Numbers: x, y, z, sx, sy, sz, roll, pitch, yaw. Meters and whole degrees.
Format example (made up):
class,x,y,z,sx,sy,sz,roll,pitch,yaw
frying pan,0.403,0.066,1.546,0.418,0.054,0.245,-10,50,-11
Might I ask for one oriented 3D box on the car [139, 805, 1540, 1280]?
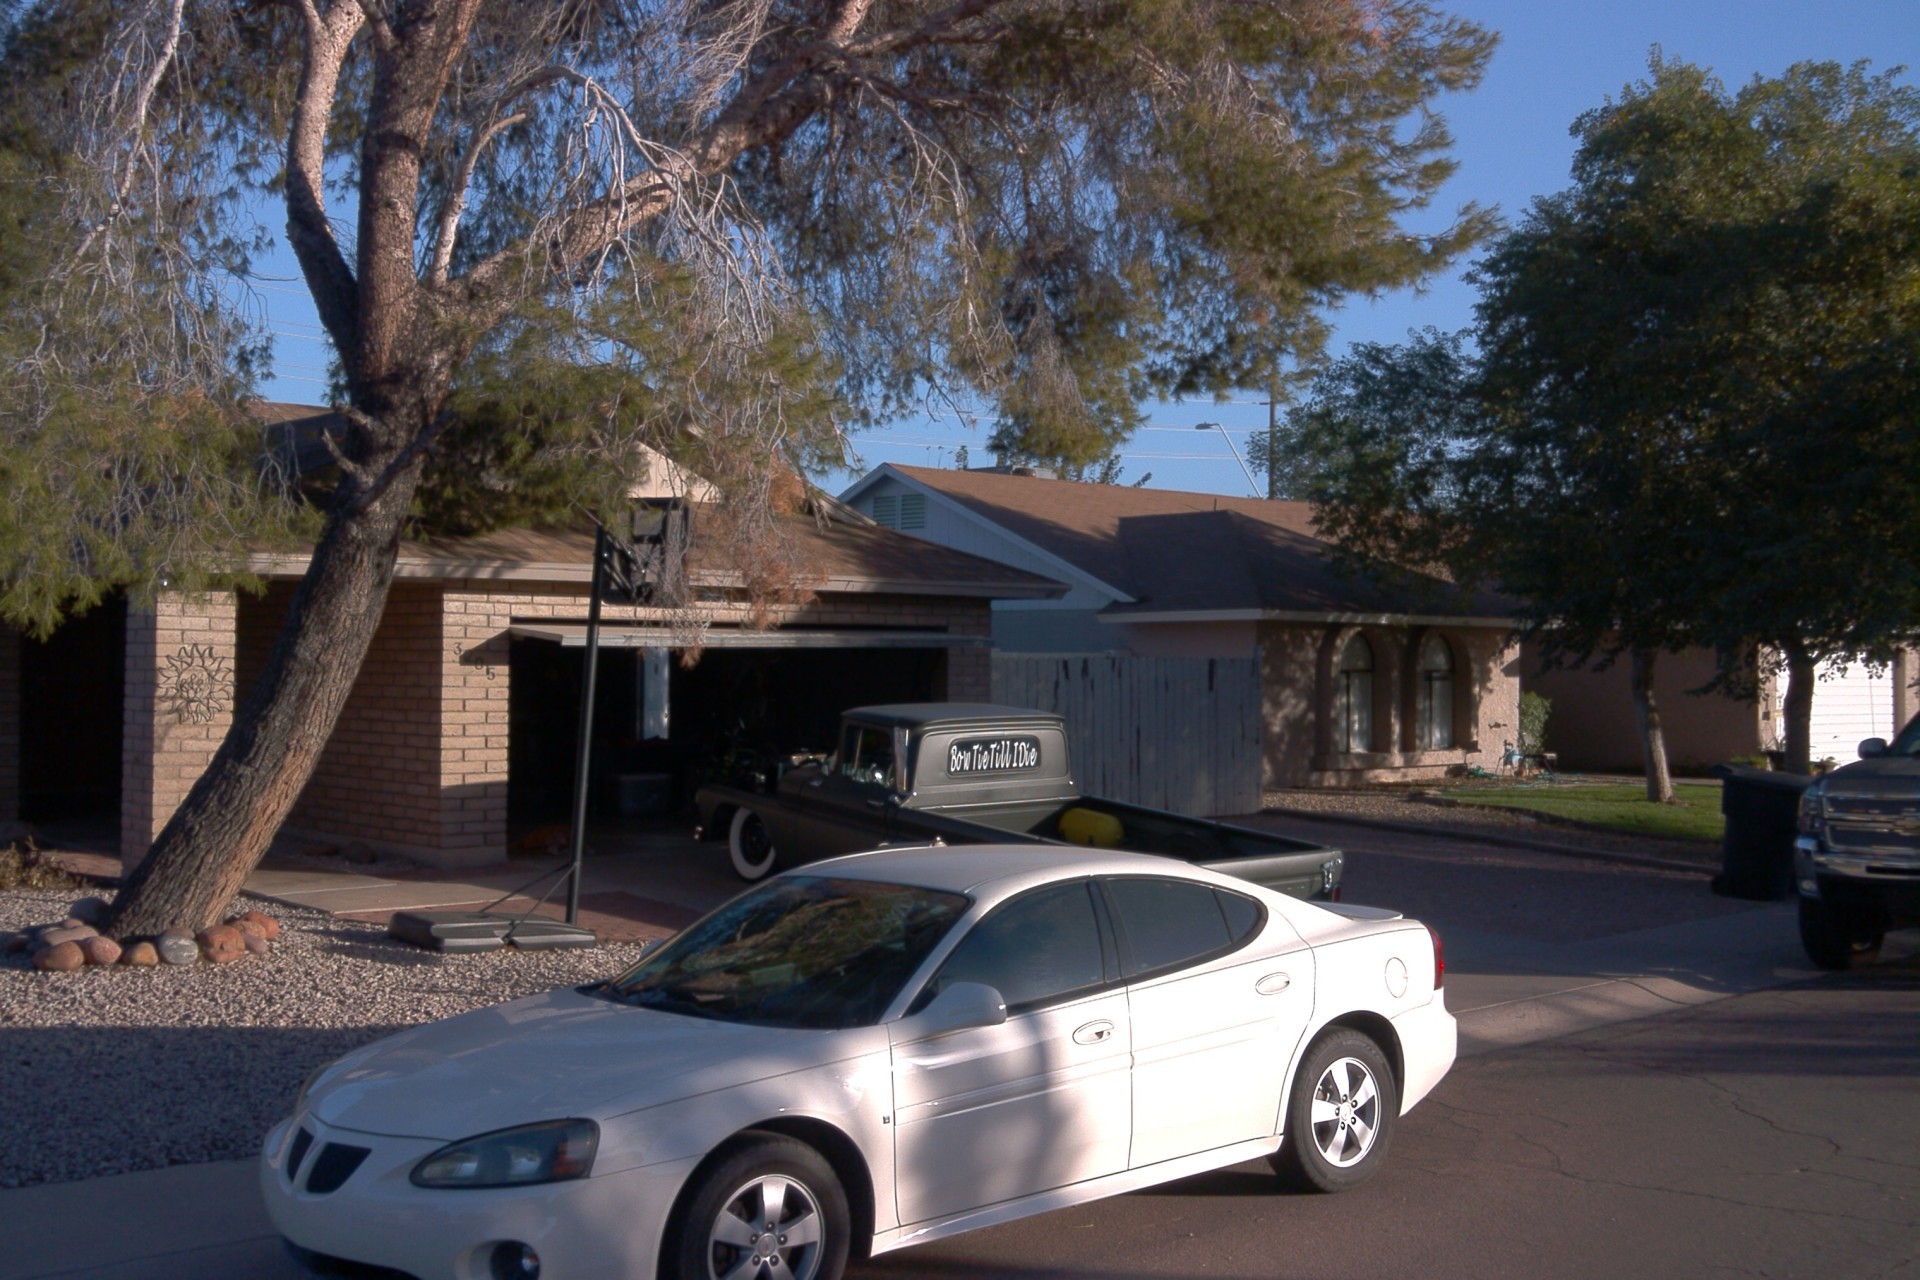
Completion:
class,x,y,z,sx,sy,sz,roll,pitch,yaw
car,-0.175,1.534,7.996,5.114,1.460,2.180,1,0,-41

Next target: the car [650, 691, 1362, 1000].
class,x,y,z,sx,sy,sz,roll,pitch,yaw
car,0.150,1.368,15.894,2.351,1.810,5.406,1,0,-42
